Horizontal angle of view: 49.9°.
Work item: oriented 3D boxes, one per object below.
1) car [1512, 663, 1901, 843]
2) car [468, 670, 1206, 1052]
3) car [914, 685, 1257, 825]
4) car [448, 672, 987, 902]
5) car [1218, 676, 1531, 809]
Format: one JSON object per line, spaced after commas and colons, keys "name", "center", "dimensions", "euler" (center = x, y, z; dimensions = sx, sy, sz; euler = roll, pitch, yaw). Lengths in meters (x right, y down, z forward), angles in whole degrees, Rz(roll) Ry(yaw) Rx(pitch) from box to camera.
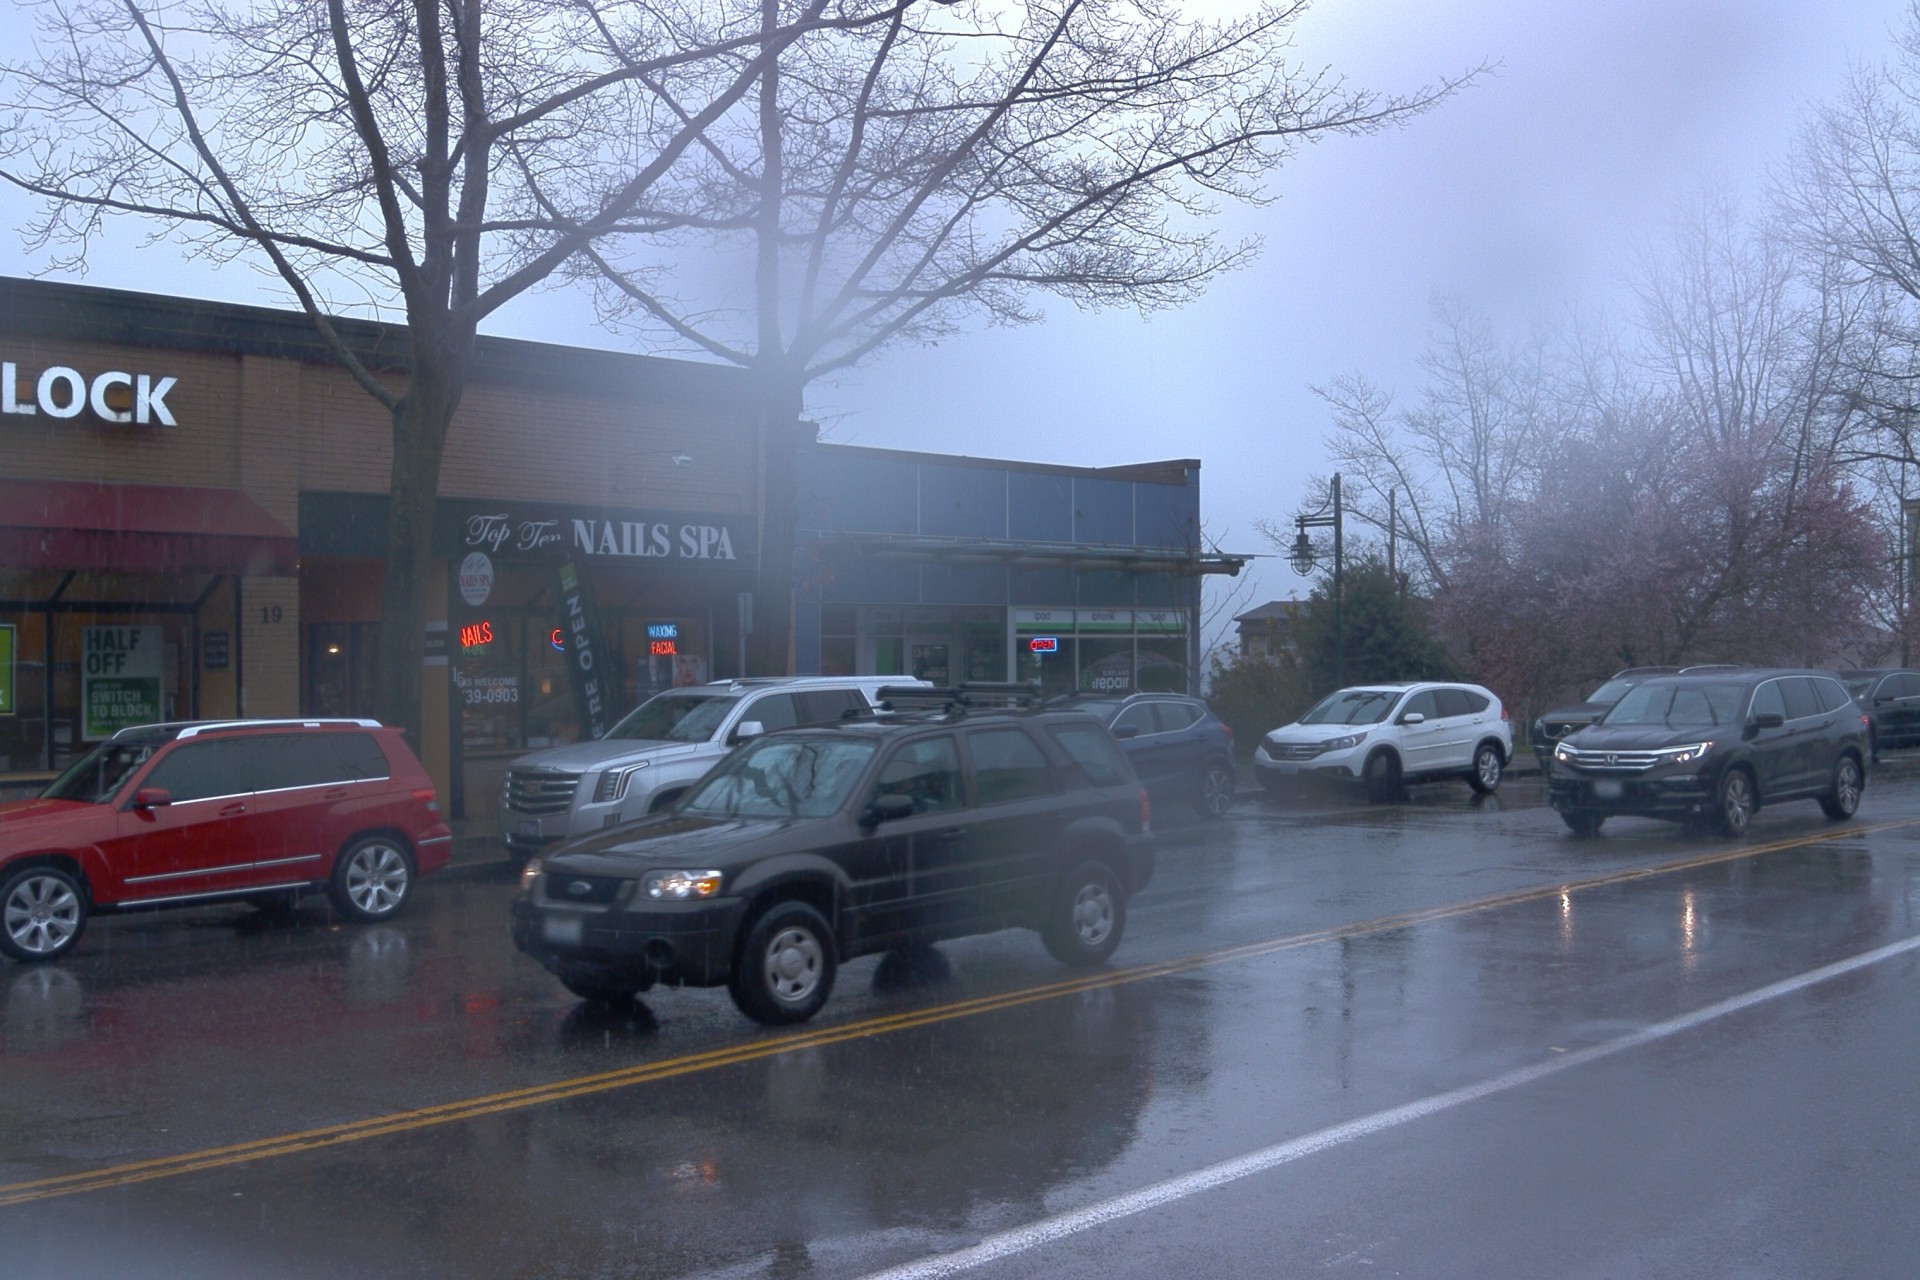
{"name": "car", "center": [8.546, 1.172, 23.350], "dimensions": [5.207, 1.690, 2.073], "euler": [-1, 1, -44]}
{"name": "car", "center": [-0.595, 1.183, 13.074], "dimensions": [1.956, 1.860, 4.594], "euler": [1, 1, 42]}
{"name": "car", "center": [1.622, 1.331, 25.280], "dimensions": [1.999, 1.400, 4.335], "euler": [1, 1, 40]}
{"name": "car", "center": [-2.323, 1.345, 21.042], "dimensions": [2.331, 1.890, 5.194], "euler": [1, 1, 42]}
{"name": "car", "center": [5.998, 1.392, 29.599], "dimensions": [4.481, 1.610, 2.181], "euler": [-1, 1, -43]}
